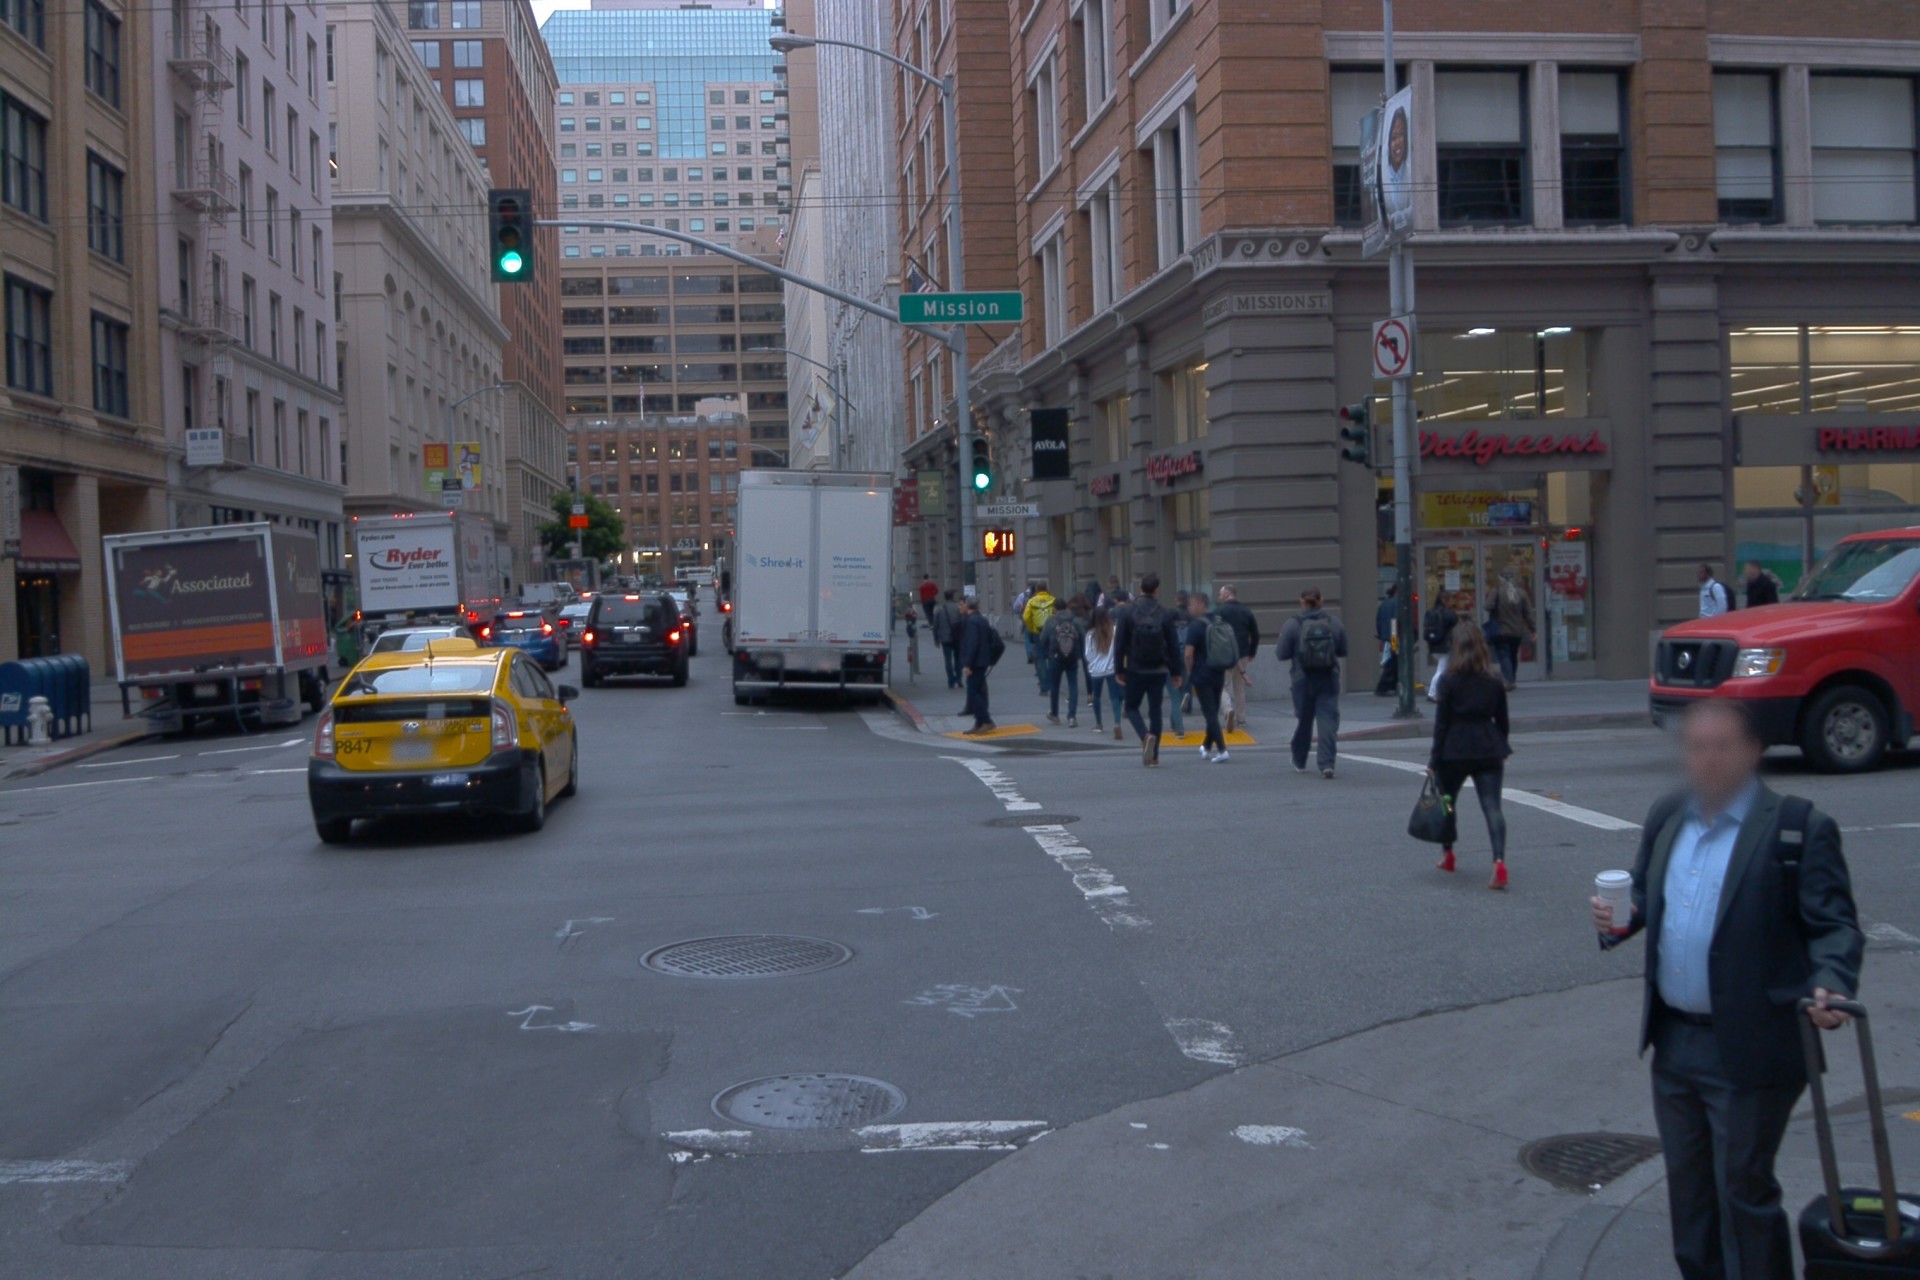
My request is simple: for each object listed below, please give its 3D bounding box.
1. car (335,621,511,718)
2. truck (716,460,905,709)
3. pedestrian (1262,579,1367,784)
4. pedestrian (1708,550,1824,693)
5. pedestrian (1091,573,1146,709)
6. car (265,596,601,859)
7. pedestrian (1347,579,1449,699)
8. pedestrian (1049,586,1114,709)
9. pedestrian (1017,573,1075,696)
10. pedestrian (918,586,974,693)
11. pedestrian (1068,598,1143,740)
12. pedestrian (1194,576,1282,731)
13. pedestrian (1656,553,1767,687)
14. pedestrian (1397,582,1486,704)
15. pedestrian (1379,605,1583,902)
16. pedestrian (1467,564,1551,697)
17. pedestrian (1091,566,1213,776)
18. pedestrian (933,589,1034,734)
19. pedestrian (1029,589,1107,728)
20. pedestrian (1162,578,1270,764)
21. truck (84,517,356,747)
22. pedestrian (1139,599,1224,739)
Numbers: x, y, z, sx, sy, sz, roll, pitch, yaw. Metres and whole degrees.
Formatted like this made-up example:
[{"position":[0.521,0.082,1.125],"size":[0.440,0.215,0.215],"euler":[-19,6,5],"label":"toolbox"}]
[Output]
[{"position":[-8.761,0.431,33.942],"size":[2.128,1.460,4.554],"euler":[0,1,-6],"label":"car"},{"position":[-2.738,-0.917,35.392],"size":[2.836,3.790,7.822],"euler":[0,1,-7],"label":"truck"},{"position":[3.192,0.356,18.603],"size":[0.786,1.800,1.147],"euler":[0,1,3],"label":"pedestrian"},{"position":[10.536,-0.250,26.913],"size":[1.127,1.830,0.858],"euler":[0,1,-8],"label":"pedestrian"},{"position":[2.308,0.003,30.002],"size":[0.664,1.950,1.096],"euler":[0,1,-3],"label":"pedestrian"},{"position":[-4.337,0.615,17.673],"size":[2.068,1.950,4.597],"euler":[0,1,-5],"label":"car"},{"position":[6.094,-0.021,28.654],"size":[1.007,1.636,1.003],"euler":[-1,1,-21],"label":"pedestrian"},{"position":[1.754,0.094,29.788],"size":[0.708,1.740,1.112],"euler":[0,1,-8],"label":"pedestrian"},{"position":[1.333,-0.093,31.986],"size":[0.813,1.880,1.040],"euler":[0,1,-1],"label":"pedestrian"},{"position":[-0.243,-0.015,34.536],"size":[0.779,1.760,1.028],"euler":[0,1,-9],"label":"pedestrian"},{"position":[1.807,0.347,25.664],"size":[0.721,1.730,0.991],"euler":[0,1,-9],"label":"pedestrian"},{"position":[3.472,0.159,25.713],"size":[0.857,1.900,0.875],"euler":[0,1,-10],"label":"pedestrian"},{"position":[10.150,-0.275,27.790],"size":[1.127,1.780,0.858],"euler":[0,1,-8],"label":"pedestrian"},{"position":[6.399,0.028,27.323],"size":[0.928,1.580,0.698],"euler":[-1,1,-31],"label":"pedestrian"},{"position":[3.133,0.644,12.457],"size":[0.785,1.710,1.088],"euler":[0,1,-12],"label":"pedestrian"},{"position":[7.709,-0.142,28.891],"size":[0.860,1.830,0.885],"euler":[0,1,-8],"label":"pedestrian"},{"position":[1.856,0.284,20.010],"size":[0.918,1.980,1.155],"euler":[0,1,-9],"label":"pedestrian"},{"position":[0.316,0.274,27.351],"size":[1.132,1.890,0.854],"euler":[0,1,18],"label":"pedestrian"},{"position":[1.415,0.231,27.091],"size":[0.911,1.790,1.172],"euler":[0,1,-2],"label":"pedestrian"},{"position":[2.581,0.297,20.792],"size":[0.815,1.830,0.944],"euler":[0,1,-11],"label":"pedestrian"},{"position":[-11.876,-0.182,33.636],"size":[3.011,3.380,6.430],"euler":[0,1,-9],"label":"truck"},{"position":[2.722,0.343,25.356],"size":[0.858,1.690,0.874],"euler":[0,1,-7],"label":"pedestrian"}]
